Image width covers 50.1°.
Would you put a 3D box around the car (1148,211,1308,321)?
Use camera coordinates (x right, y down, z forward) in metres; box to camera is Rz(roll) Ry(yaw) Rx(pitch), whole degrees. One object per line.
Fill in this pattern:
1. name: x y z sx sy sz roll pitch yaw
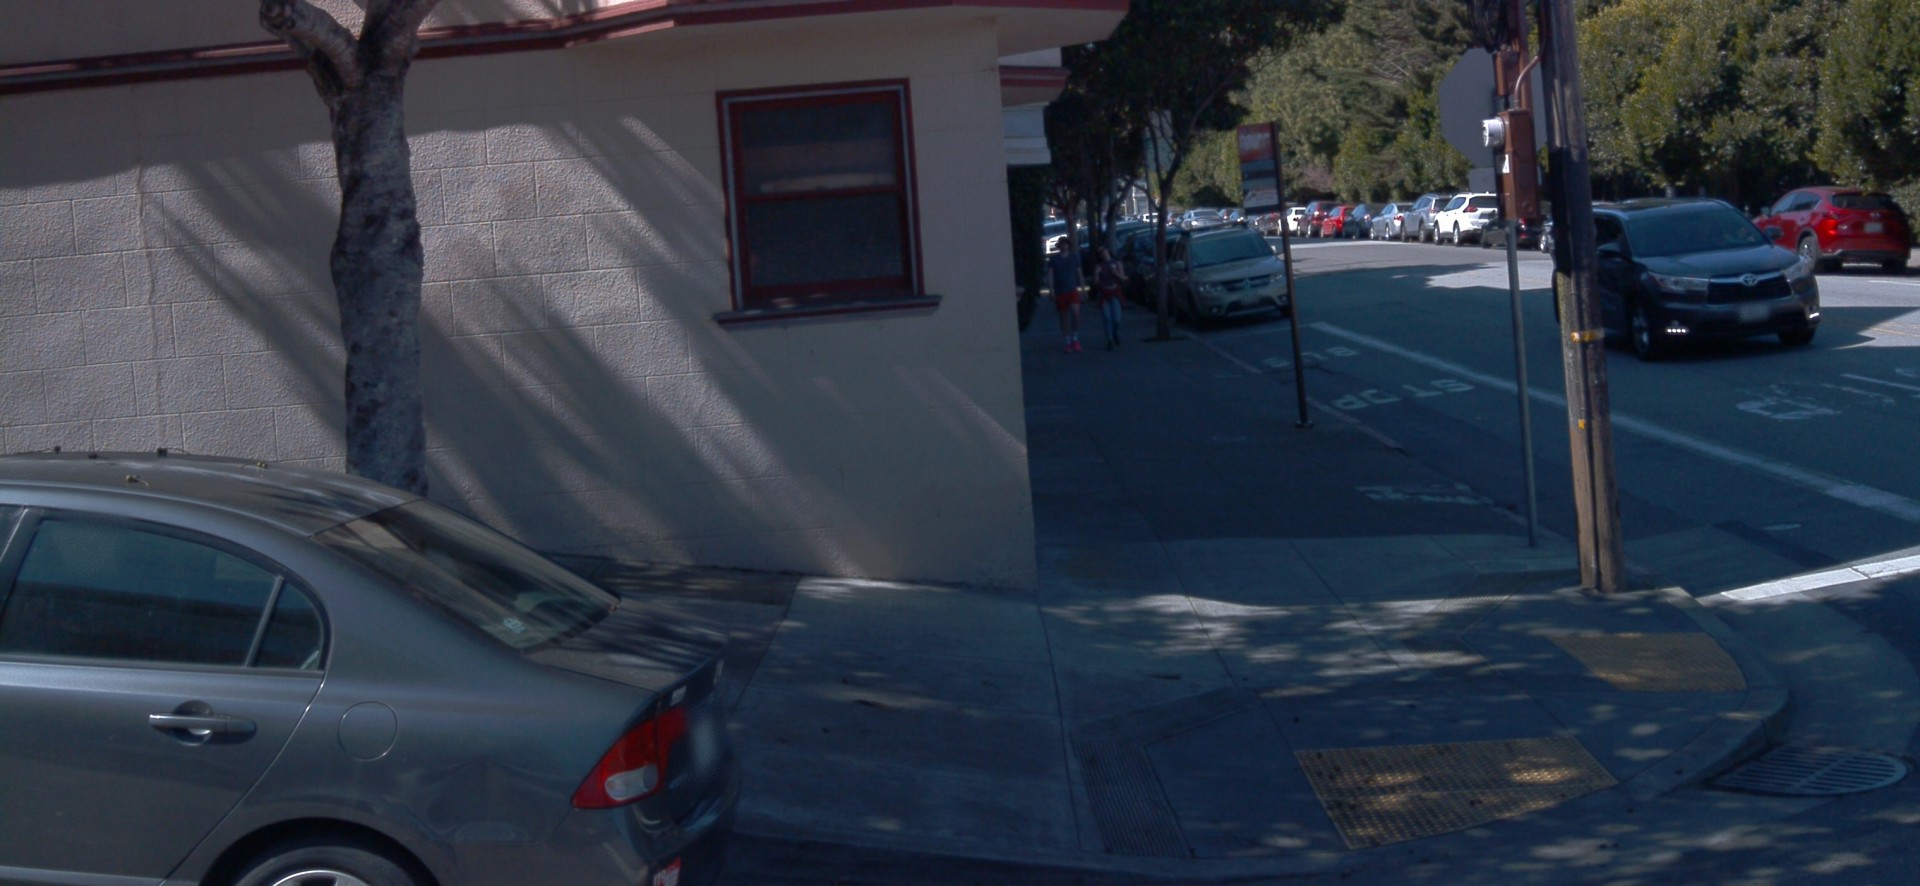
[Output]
1. car: 4.908 -3.366 38.303 2.225 1.869 5.045 0 6 -1

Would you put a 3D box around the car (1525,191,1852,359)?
1. car: 8.497 -2.100 24.504 2.176 1.789 4.894 0 6 0

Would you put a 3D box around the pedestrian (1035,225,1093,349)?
1. pedestrian: 1.646 -2.485 32.625 0.806 1.925 0.886 0 2 -5

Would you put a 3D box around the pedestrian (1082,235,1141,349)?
1. pedestrian: 2.402 -2.416 32.728 0.863 1.775 0.995 0 3 0
